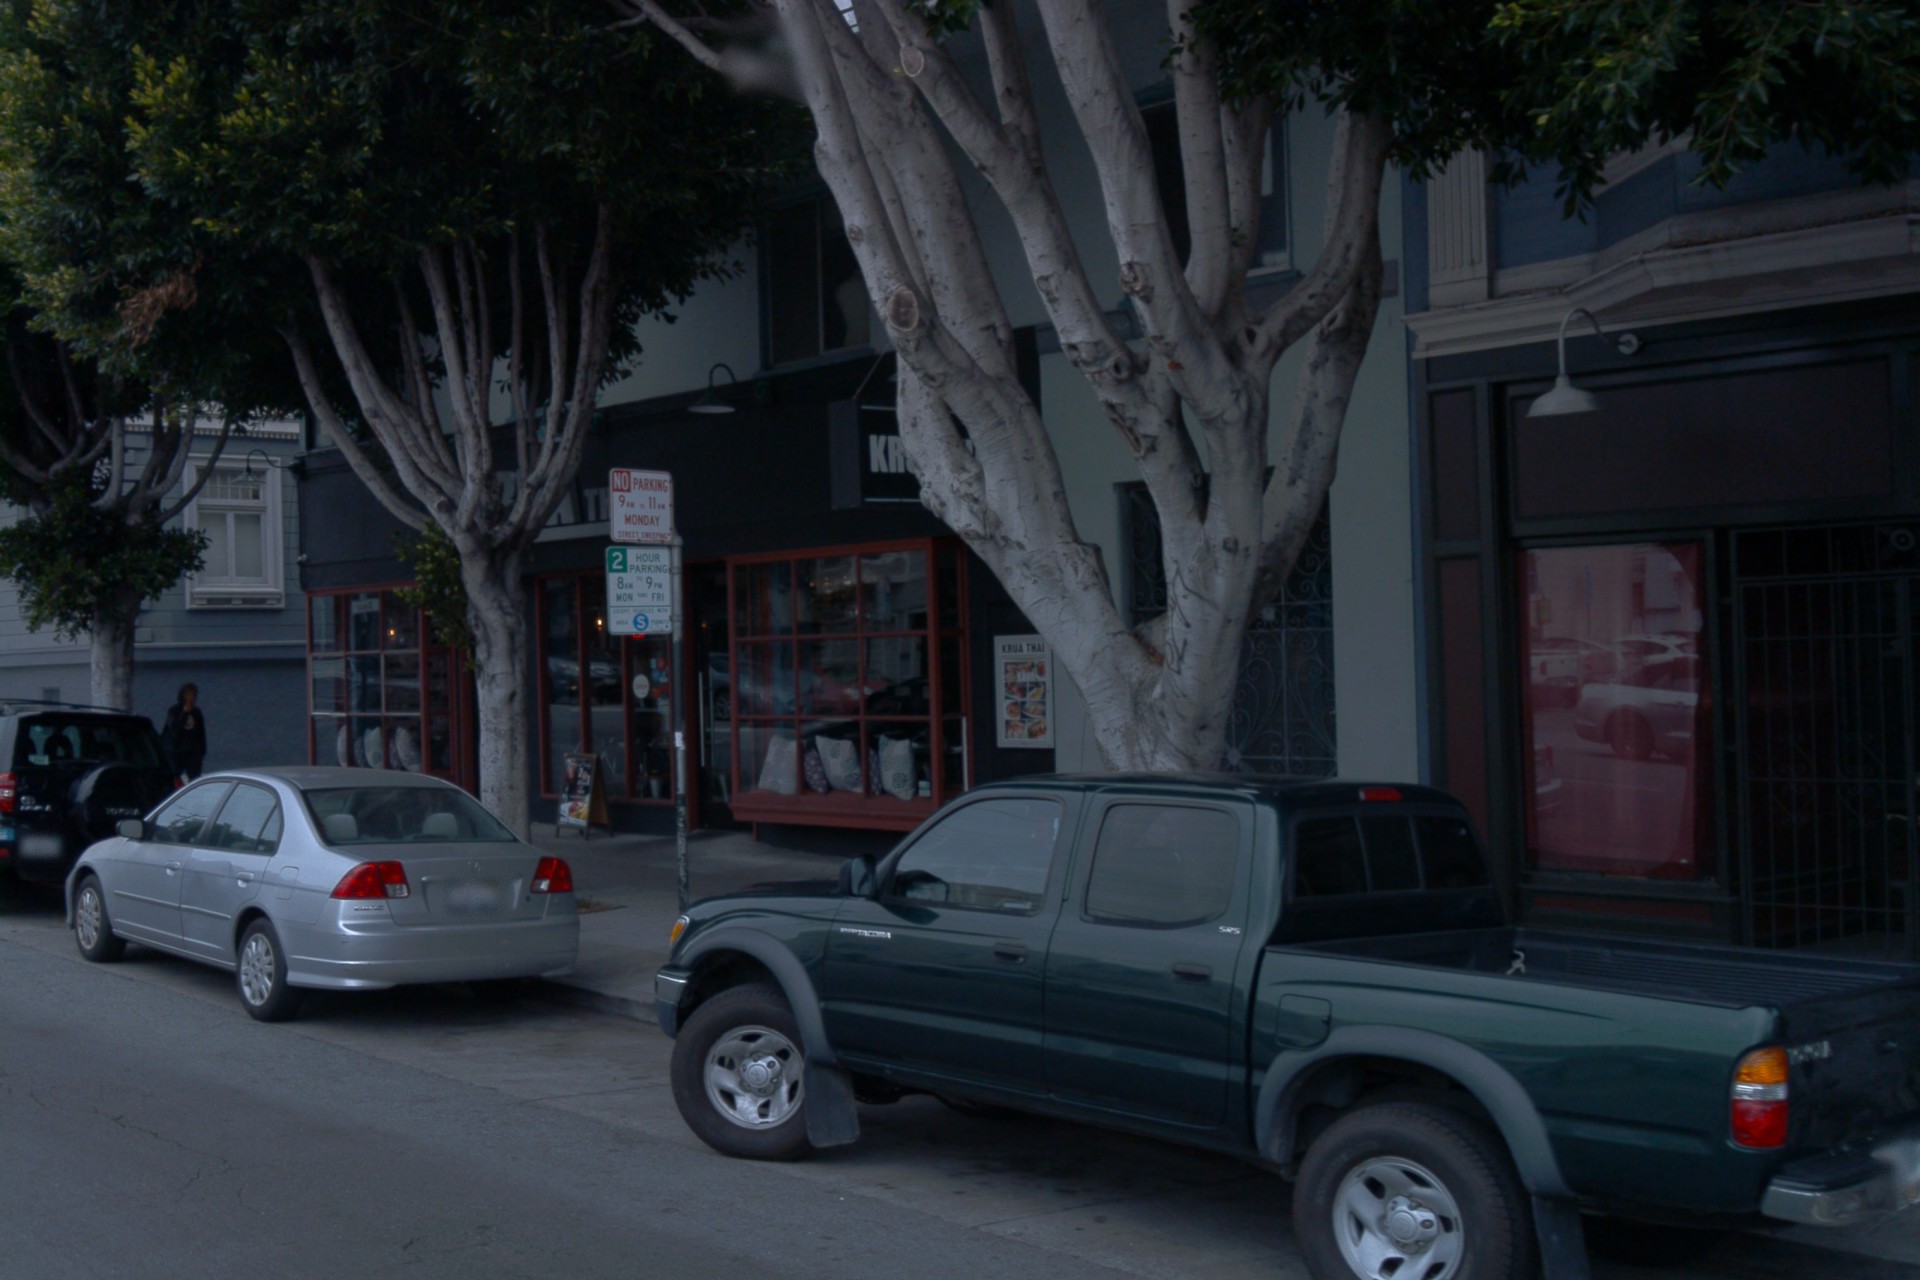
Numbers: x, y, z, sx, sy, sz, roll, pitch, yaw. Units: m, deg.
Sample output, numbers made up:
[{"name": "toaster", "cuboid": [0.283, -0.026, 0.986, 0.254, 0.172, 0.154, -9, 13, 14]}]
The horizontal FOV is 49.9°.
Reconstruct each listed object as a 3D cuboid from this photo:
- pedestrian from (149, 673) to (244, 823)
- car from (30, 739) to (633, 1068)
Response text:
[{"name": "pedestrian", "cuboid": [-8.630, 1.201, 23.341, 0.774, 1.630, 0.716, 1, 1, 41]}, {"name": "car", "cuboid": [-4.206, 1.522, 13.348, 1.885, 1.500, 4.541, -1, 1, -43]}]
